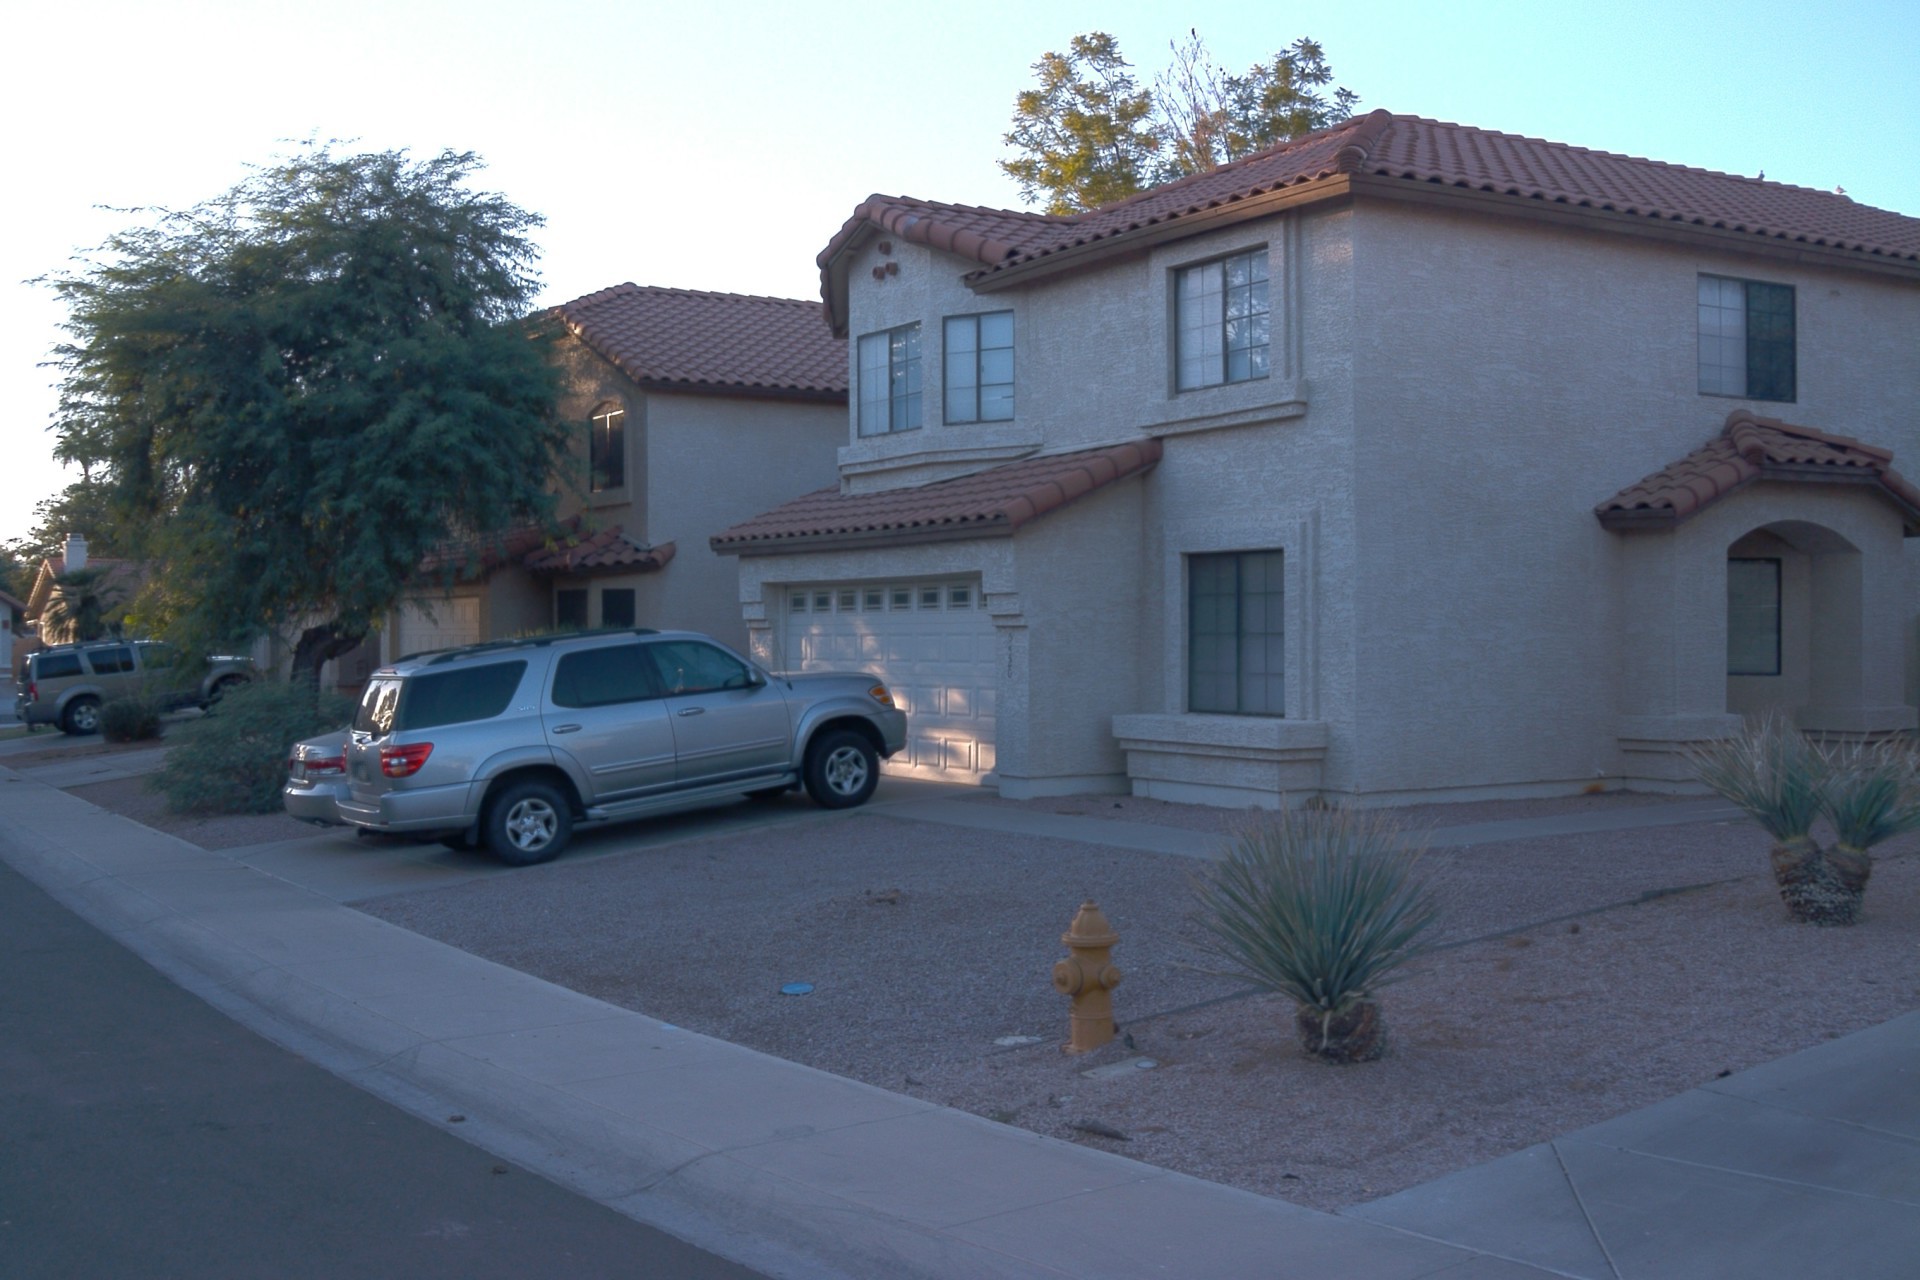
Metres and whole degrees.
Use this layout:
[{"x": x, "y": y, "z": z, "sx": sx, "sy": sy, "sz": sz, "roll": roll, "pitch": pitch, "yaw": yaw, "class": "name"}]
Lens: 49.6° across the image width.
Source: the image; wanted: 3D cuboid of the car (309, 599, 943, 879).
[{"x": -3.044, "y": 0.827, "z": 19.188, "sx": 5.292, "sy": 2.280, "sz": 2.368, "roll": 0, "pitch": -1, "yaw": -29, "class": "car"}]

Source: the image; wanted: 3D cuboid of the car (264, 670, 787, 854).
[{"x": -4.383, "y": 1.149, "z": 21.149, "sx": 4.778, "sy": 1.670, "sz": 2.107, "roll": 0, "pitch": -1, "yaw": -31, "class": "car"}]
